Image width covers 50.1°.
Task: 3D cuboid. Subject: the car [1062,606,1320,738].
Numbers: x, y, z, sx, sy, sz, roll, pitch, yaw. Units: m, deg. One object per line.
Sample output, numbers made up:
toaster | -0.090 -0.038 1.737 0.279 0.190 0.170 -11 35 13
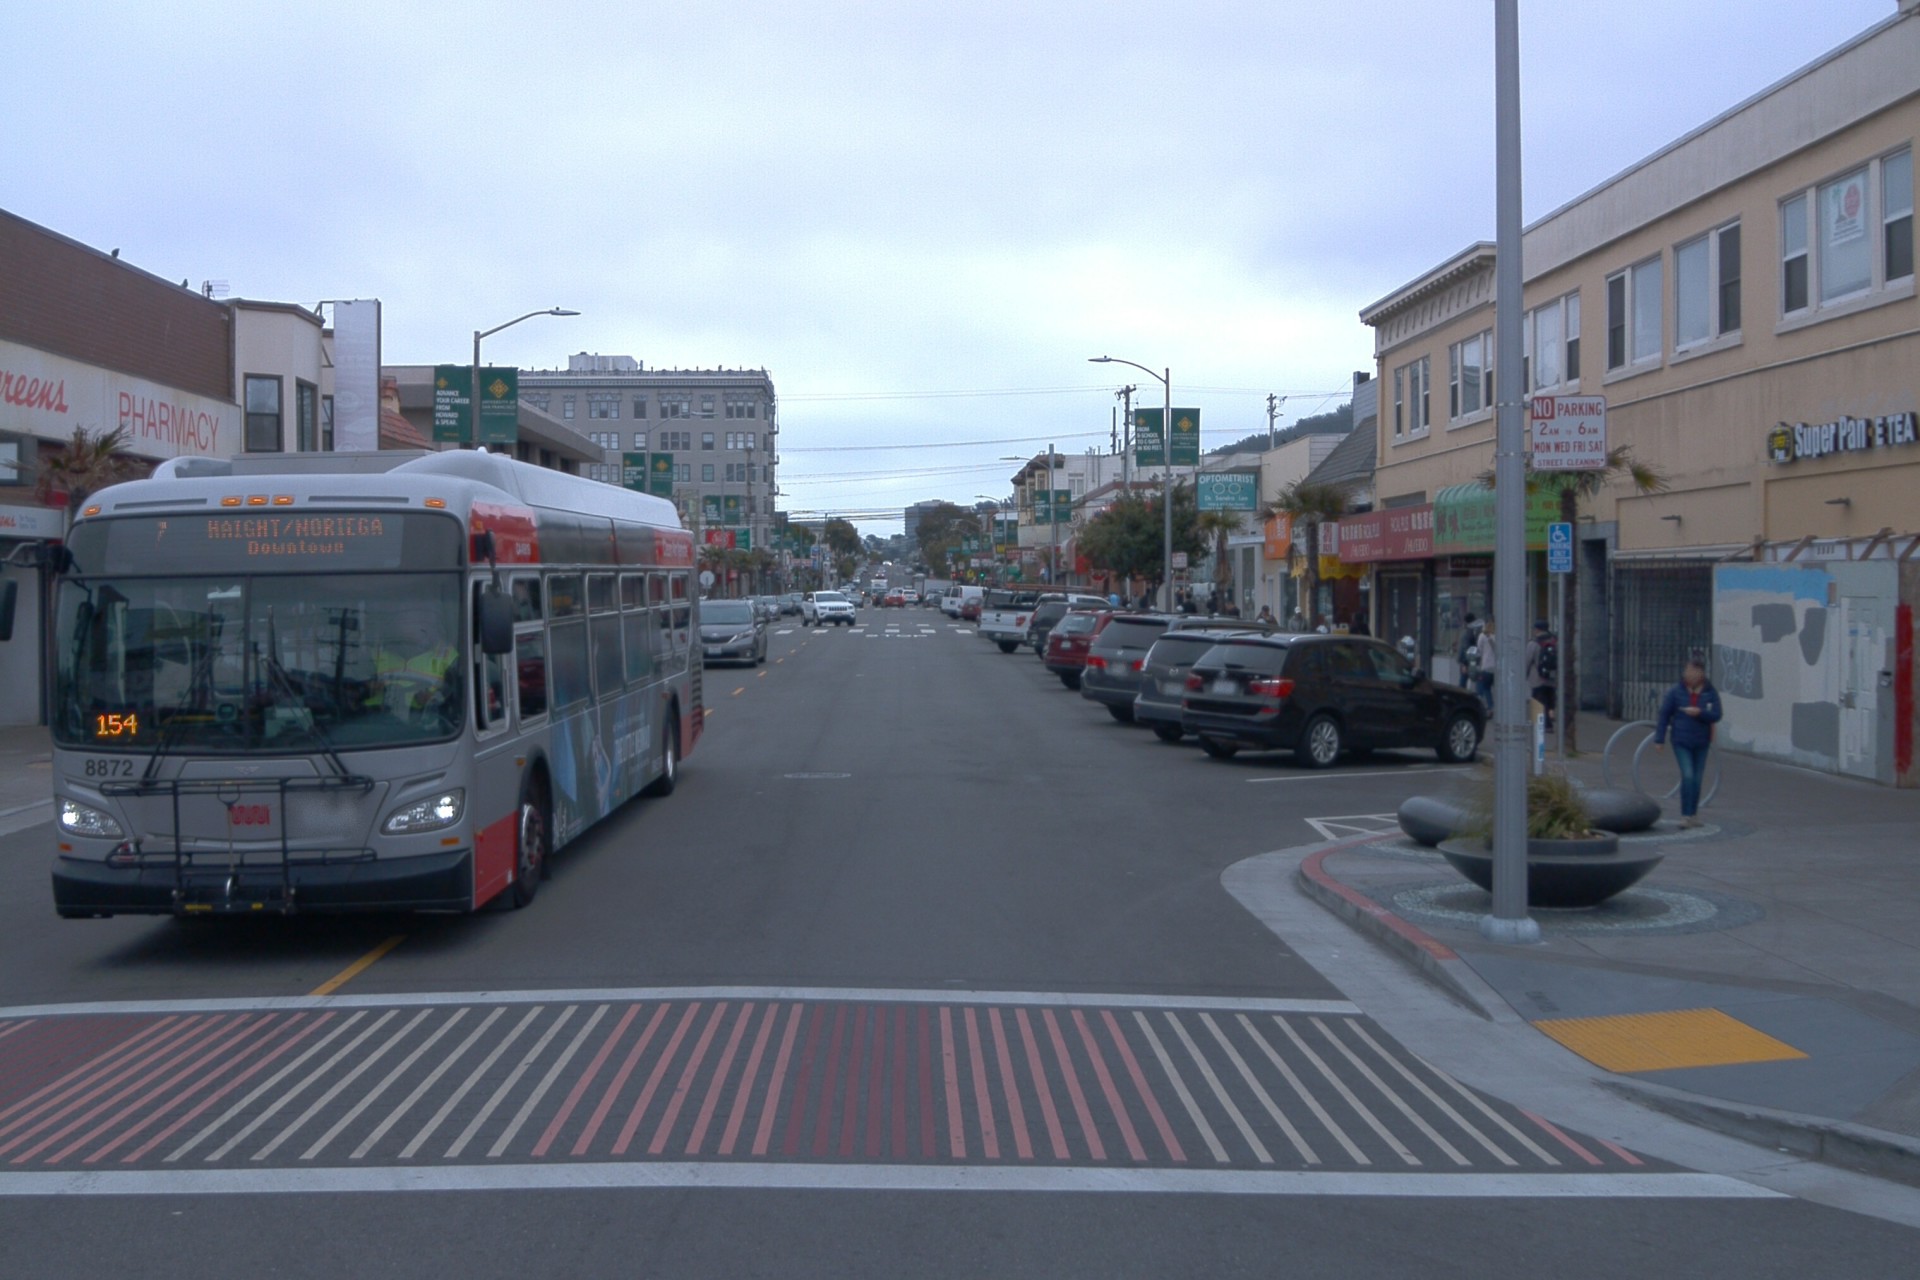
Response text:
car | 3.681 0.446 32.485 3.847 1.931 1.922 -1 1 -40

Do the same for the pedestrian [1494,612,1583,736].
pedestrian | 8.479 0.483 30.158 0.922 1.770 0.951 0 1 -11

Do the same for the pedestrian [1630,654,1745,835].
pedestrian | 6.614 0.936 18.724 0.747 1.598 0.778 0 1 -1

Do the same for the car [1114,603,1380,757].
car | 4.121 0.499 29.229 3.671 2.040 1.761 -1 1 -41

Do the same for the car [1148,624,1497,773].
car | 4.783 0.687 26.842 4.510 1.740 2.044 -1 1 -40

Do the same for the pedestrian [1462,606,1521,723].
pedestrian | 8.353 0.372 32.355 0.711 1.824 0.916 0 1 2
